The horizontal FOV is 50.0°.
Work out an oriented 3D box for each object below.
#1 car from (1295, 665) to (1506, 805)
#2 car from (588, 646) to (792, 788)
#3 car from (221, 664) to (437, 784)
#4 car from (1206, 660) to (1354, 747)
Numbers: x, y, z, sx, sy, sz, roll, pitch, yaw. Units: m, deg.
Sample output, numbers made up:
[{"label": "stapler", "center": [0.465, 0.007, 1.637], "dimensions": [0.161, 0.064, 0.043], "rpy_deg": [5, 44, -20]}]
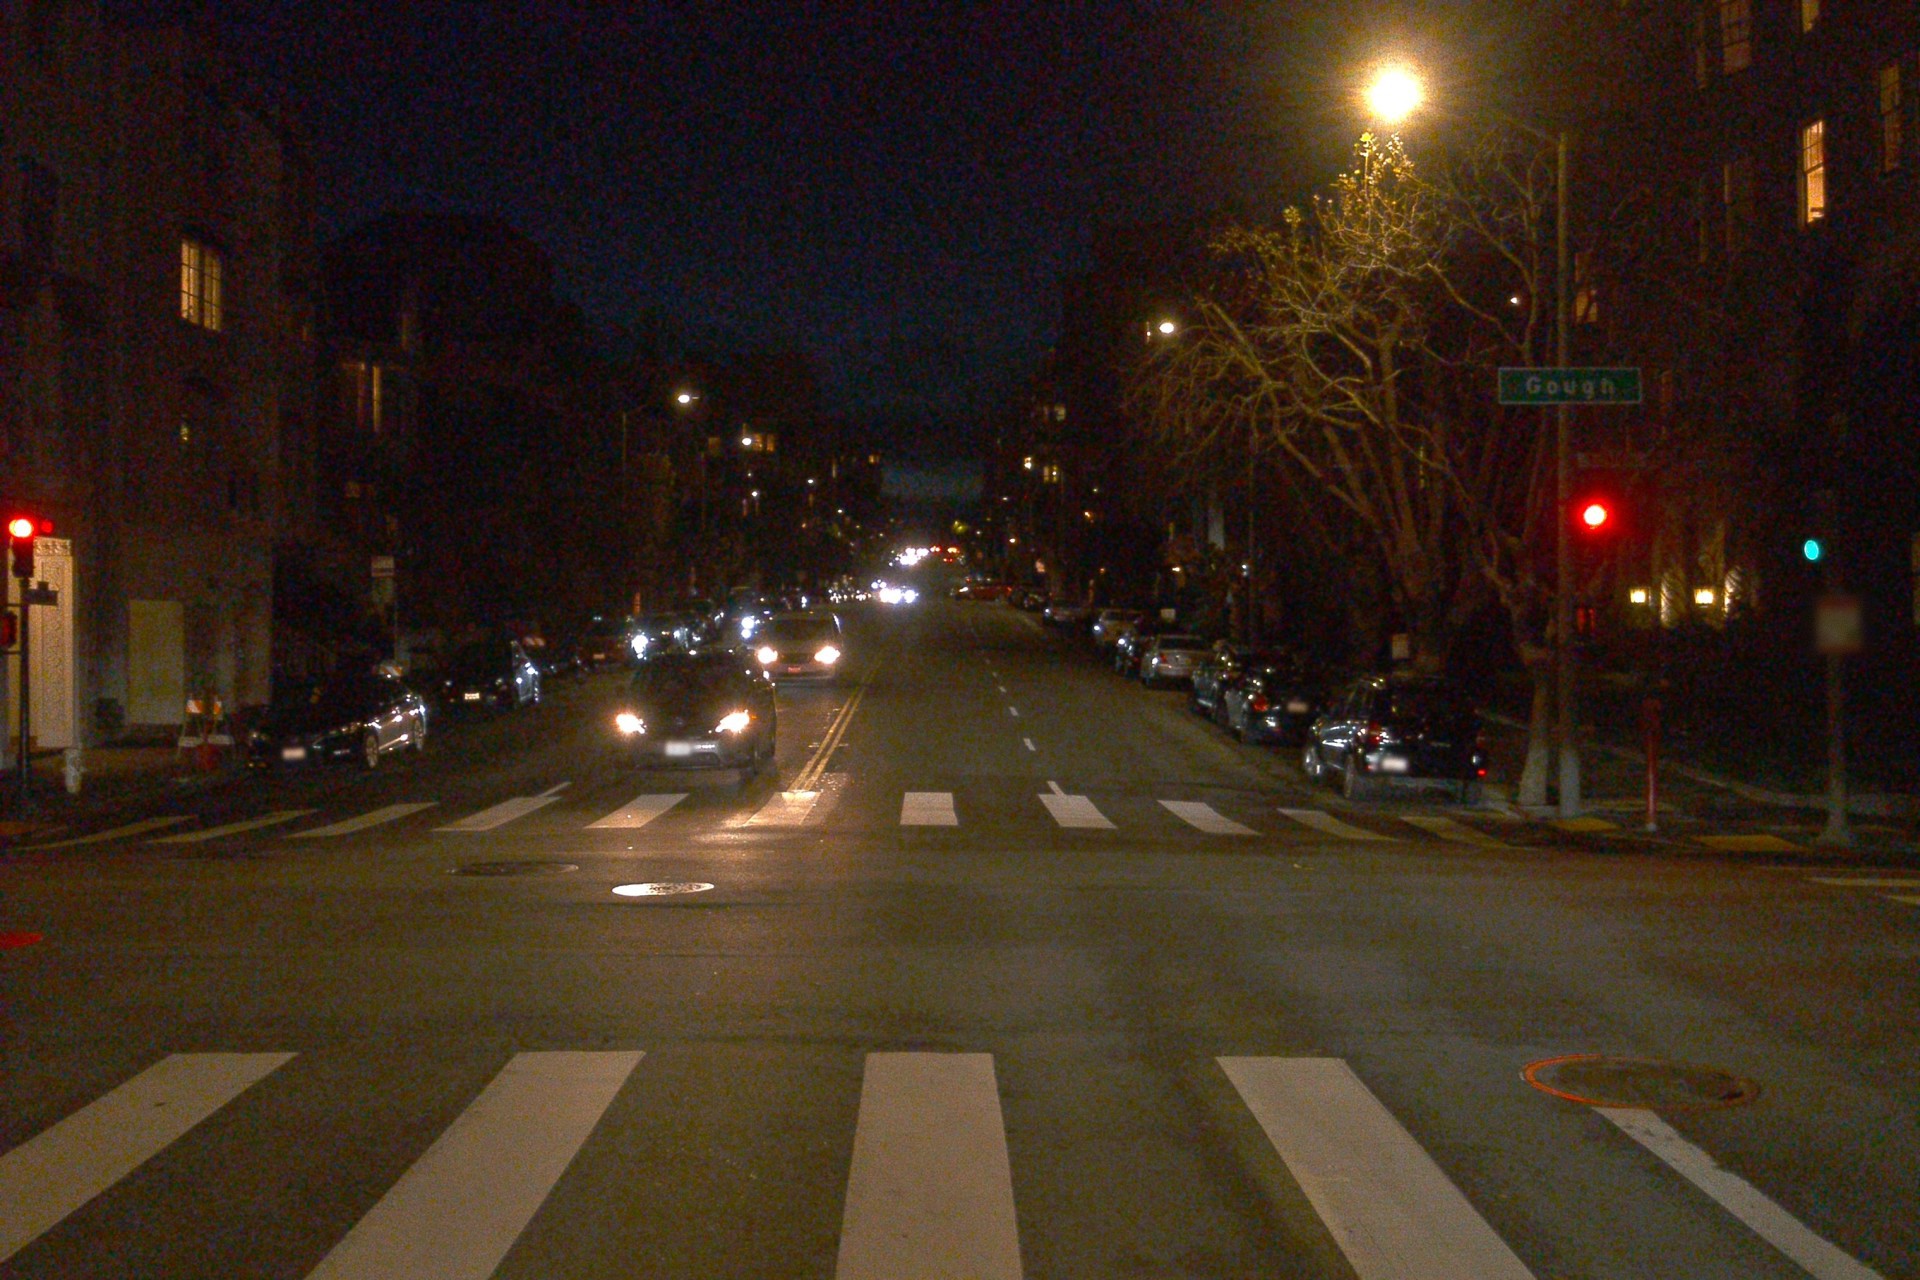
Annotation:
[{"label": "car", "center": [6.078, 1.260, 28.895], "dimensions": [1.802, 1.714, 4.078], "rpy_deg": [1, 0, -4]}, {"label": "car", "center": [-3.807, 1.038, 29.922], "dimensions": [2.293, 1.803, 4.677], "rpy_deg": [1, 0, 0]}, {"label": "car", "center": [-10.055, 1.291, 33.210], "dimensions": [2.045, 1.673, 4.519], "rpy_deg": [1, 0, 0]}, {"label": "car", "center": [5.812, 1.129, 37.883], "dimensions": [1.802, 1.404, 4.078], "rpy_deg": [1, 0, -4]}]
